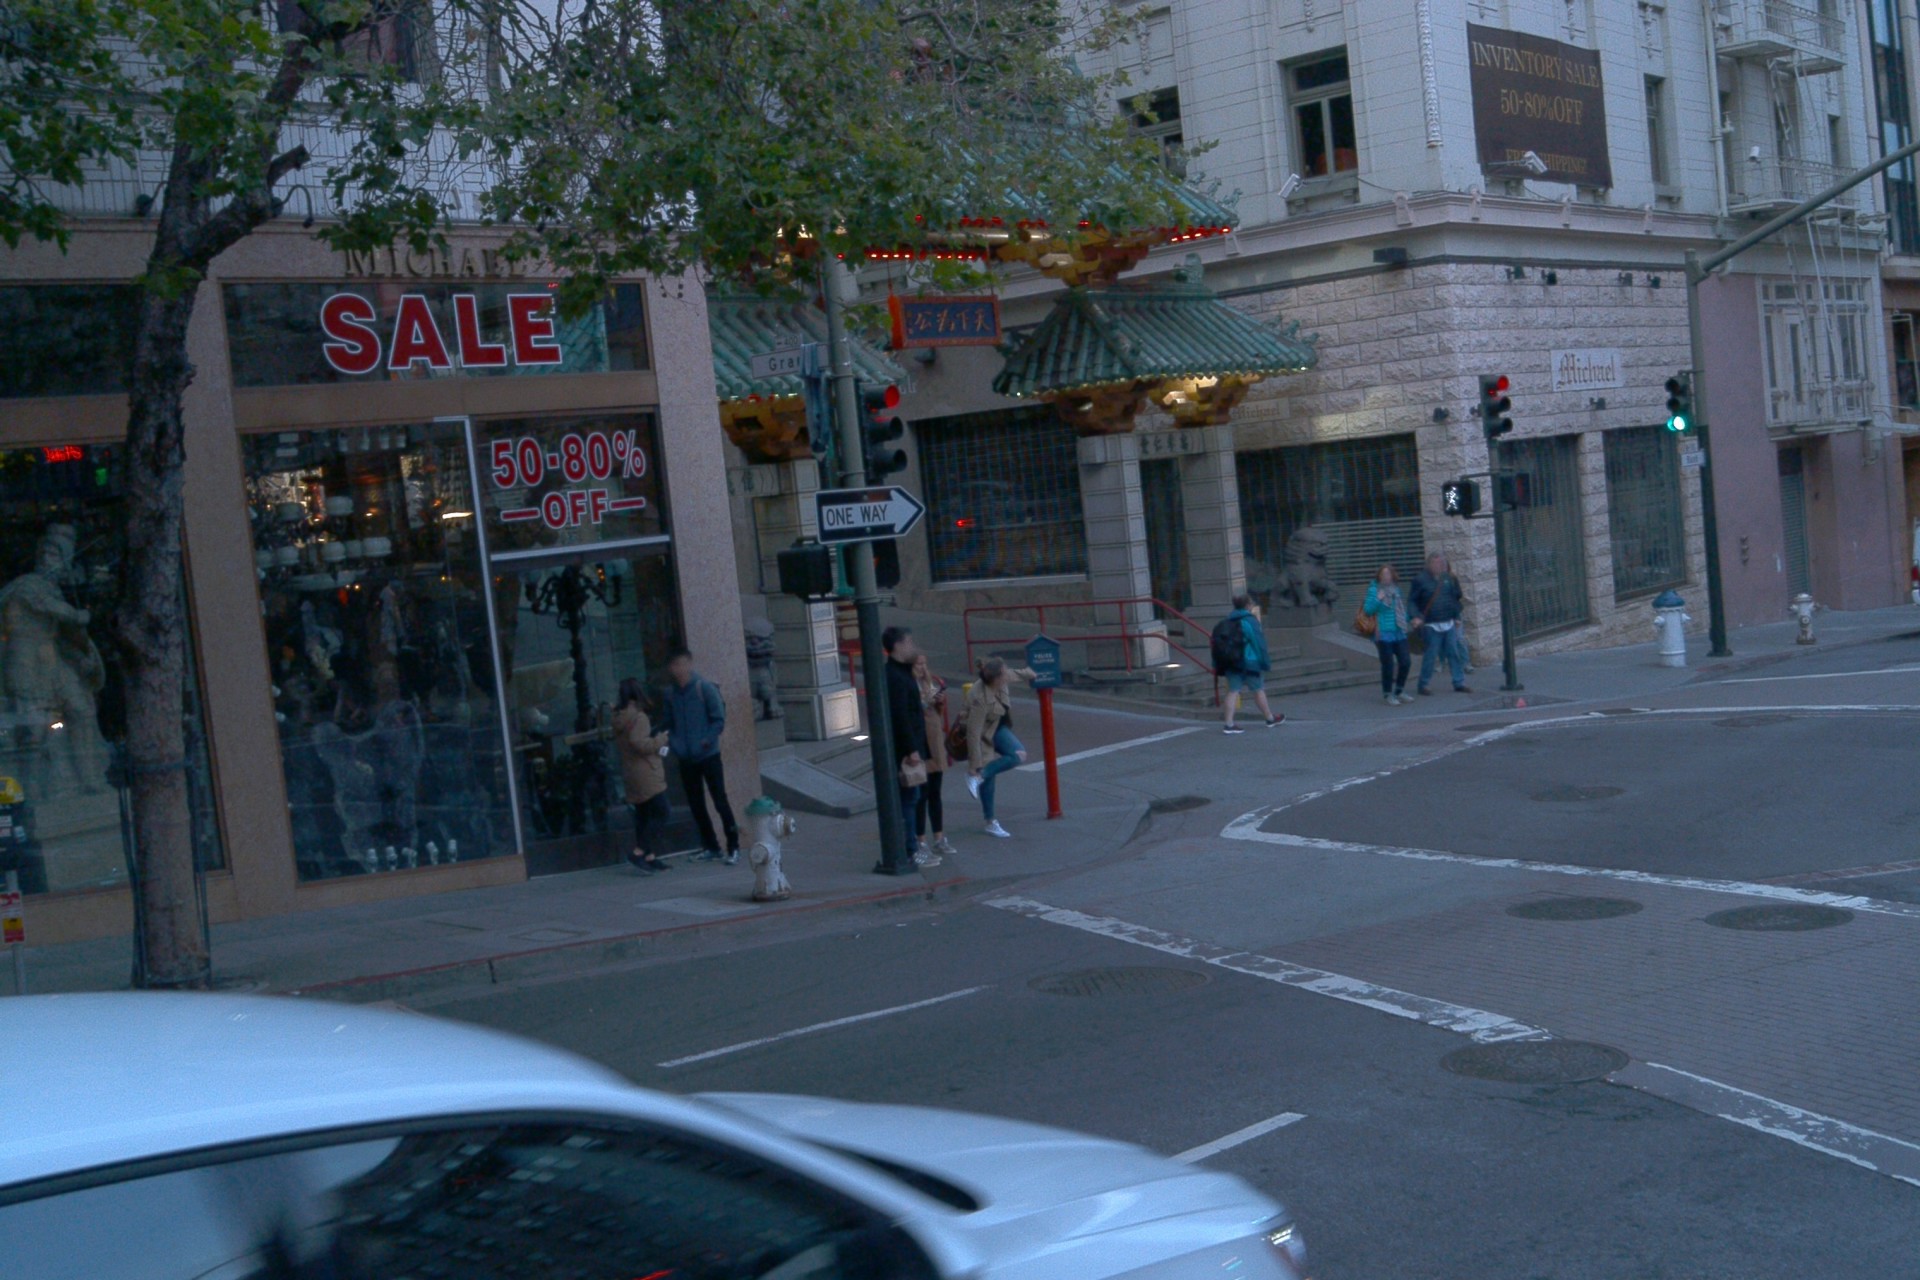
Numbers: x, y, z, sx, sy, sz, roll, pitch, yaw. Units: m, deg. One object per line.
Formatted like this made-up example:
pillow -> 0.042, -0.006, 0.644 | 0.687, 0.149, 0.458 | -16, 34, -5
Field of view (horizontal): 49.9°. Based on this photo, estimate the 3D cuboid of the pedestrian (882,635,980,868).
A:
pedestrian -> -0.236, 0.903, 17.115 | 0.531, 1.880, 0.637 | 0, 1, 37

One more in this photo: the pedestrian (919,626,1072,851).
pedestrian -> 0.316, 0.819, 17.944 | 0.817, 1.880, 1.093 | 1, 1, 40

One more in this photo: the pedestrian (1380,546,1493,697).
pedestrian -> 5.881, -0.233, 25.487 | 0.964, 1.820, 1.001 | 0, 1, -21

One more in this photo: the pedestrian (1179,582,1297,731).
pedestrian -> 3.278, 0.176, 24.360 | 0.989, 1.710, 0.971 | -1, 1, -42

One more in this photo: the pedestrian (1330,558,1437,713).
pedestrian -> 5.168, -0.060, 25.242 | 0.926, 1.850, 0.934 | 0, 1, -21

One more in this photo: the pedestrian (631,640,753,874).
pedestrian -> -2.238, 0.945, 17.212 | 0.724, 1.880, 0.716 | -1, 1, -41

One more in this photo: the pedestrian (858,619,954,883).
pedestrian -> -0.426, 0.869, 16.564 | 0.546, 2.070, 0.610 | 0, 1, 26

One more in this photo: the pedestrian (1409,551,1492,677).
pedestrian -> 6.575, -0.345, 27.665 | 0.818, 1.660, 0.754 | 1, 1, 42

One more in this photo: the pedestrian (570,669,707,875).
pedestrian -> -2.588, 1.037, 16.612 | 0.787, 1.580, 0.745 | 0, 1, 38
